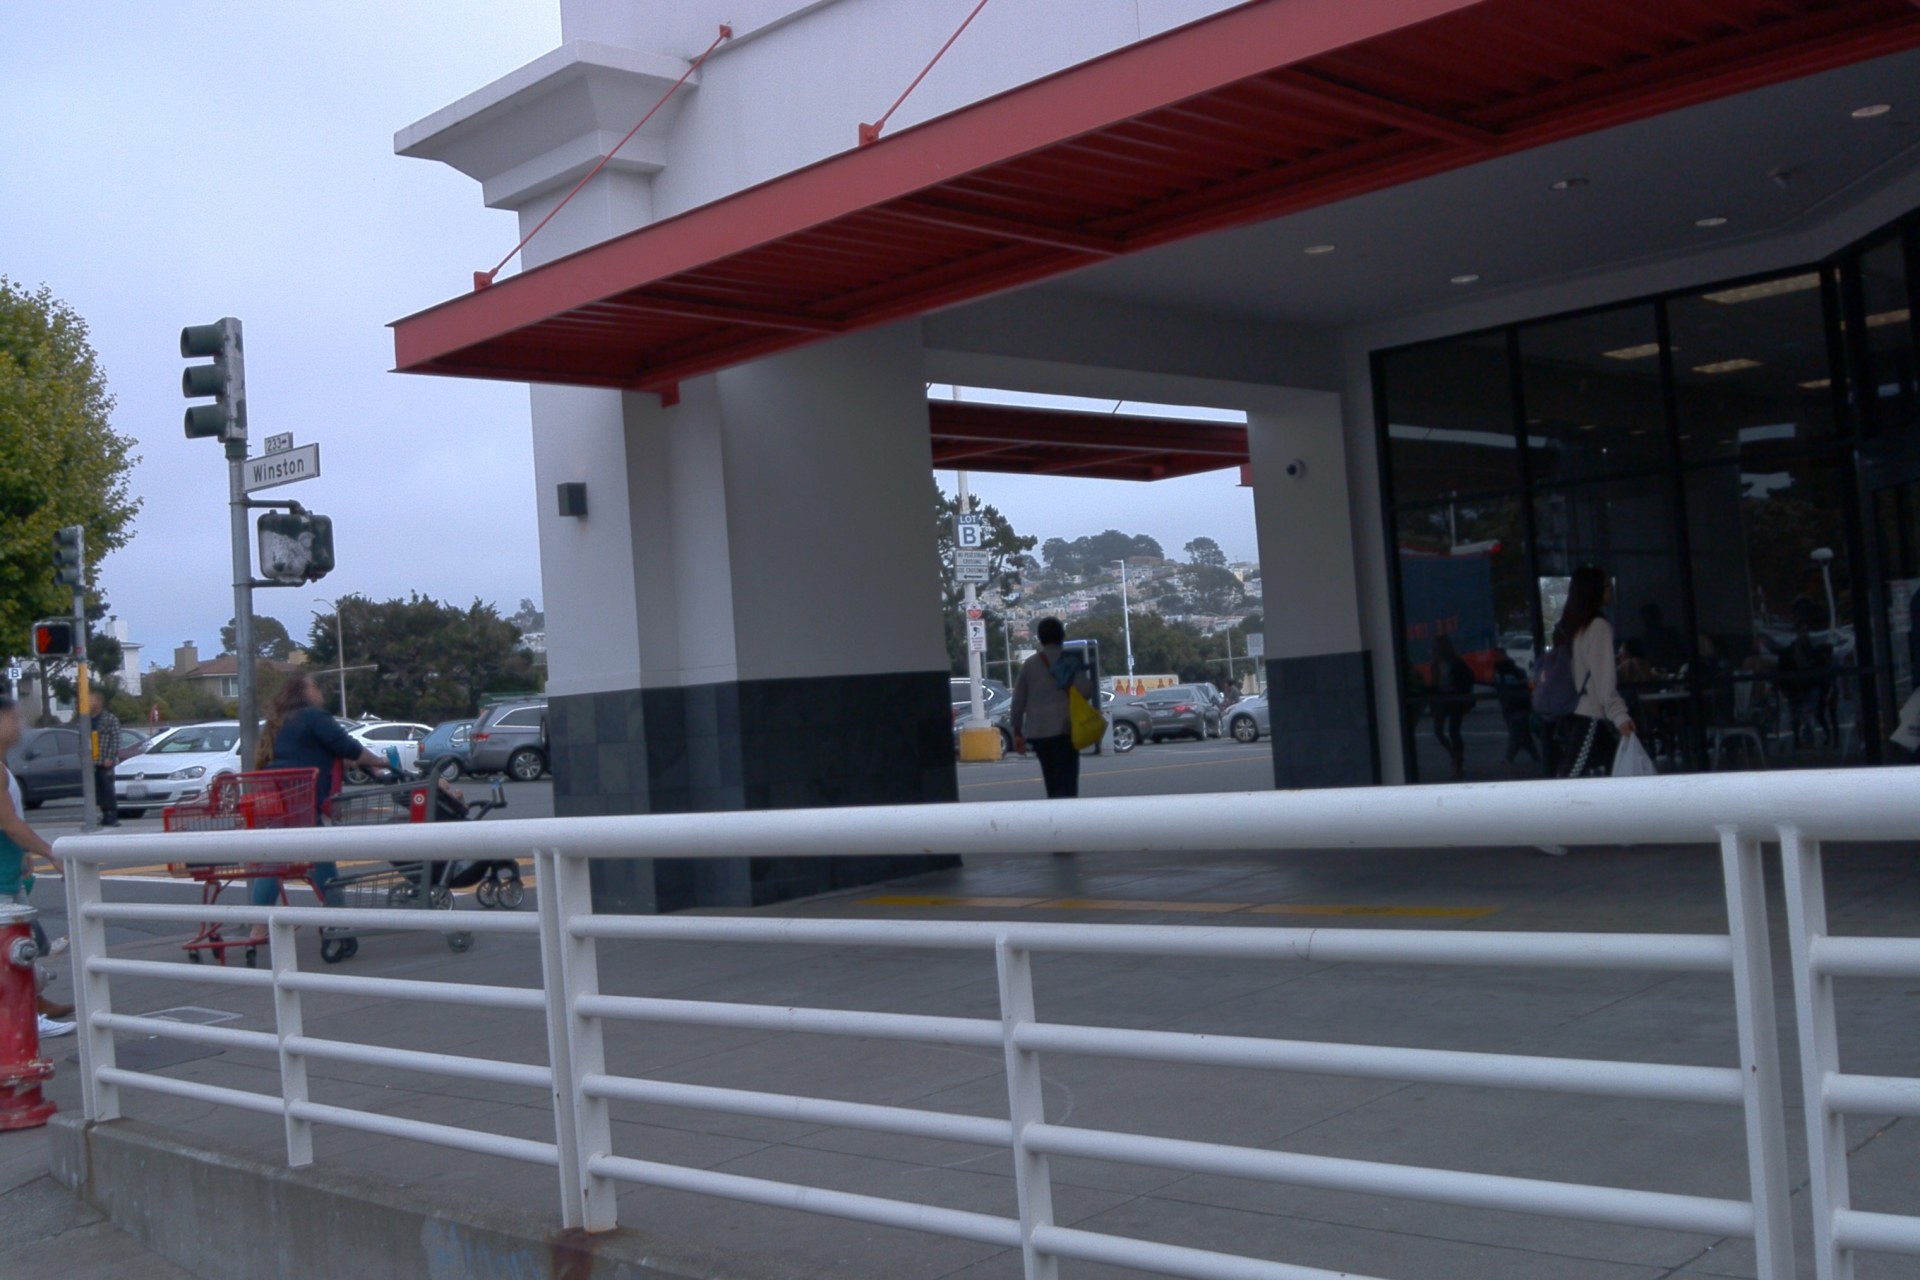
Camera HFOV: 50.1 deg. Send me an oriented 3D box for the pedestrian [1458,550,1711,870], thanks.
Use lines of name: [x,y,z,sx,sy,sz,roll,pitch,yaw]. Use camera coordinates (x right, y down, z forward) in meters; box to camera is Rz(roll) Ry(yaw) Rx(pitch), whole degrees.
pedestrian: [3.217,0.338,10.651,0.952,1.580,0.817,0,0,-16]

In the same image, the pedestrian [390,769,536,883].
pedestrian: [-3.162,1.172,13.094,0.767,0.640,0.483,-1,0,-40]

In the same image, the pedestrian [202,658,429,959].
pedestrian: [-3.902,0.975,12.459,1.124,1.710,0.710,0,0,-38]

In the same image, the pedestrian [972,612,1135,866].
pedestrian: [0.614,0.610,13.333,0.786,1.580,0.809,0,0,28]

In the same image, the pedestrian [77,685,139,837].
pedestrian: [-11.000,1.546,26.530,0.615,1.900,0.747,0,0,-32]

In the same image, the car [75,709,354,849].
car: [-11.161,2.025,31.137,1.974,1.760,4.391,0,1,12]
